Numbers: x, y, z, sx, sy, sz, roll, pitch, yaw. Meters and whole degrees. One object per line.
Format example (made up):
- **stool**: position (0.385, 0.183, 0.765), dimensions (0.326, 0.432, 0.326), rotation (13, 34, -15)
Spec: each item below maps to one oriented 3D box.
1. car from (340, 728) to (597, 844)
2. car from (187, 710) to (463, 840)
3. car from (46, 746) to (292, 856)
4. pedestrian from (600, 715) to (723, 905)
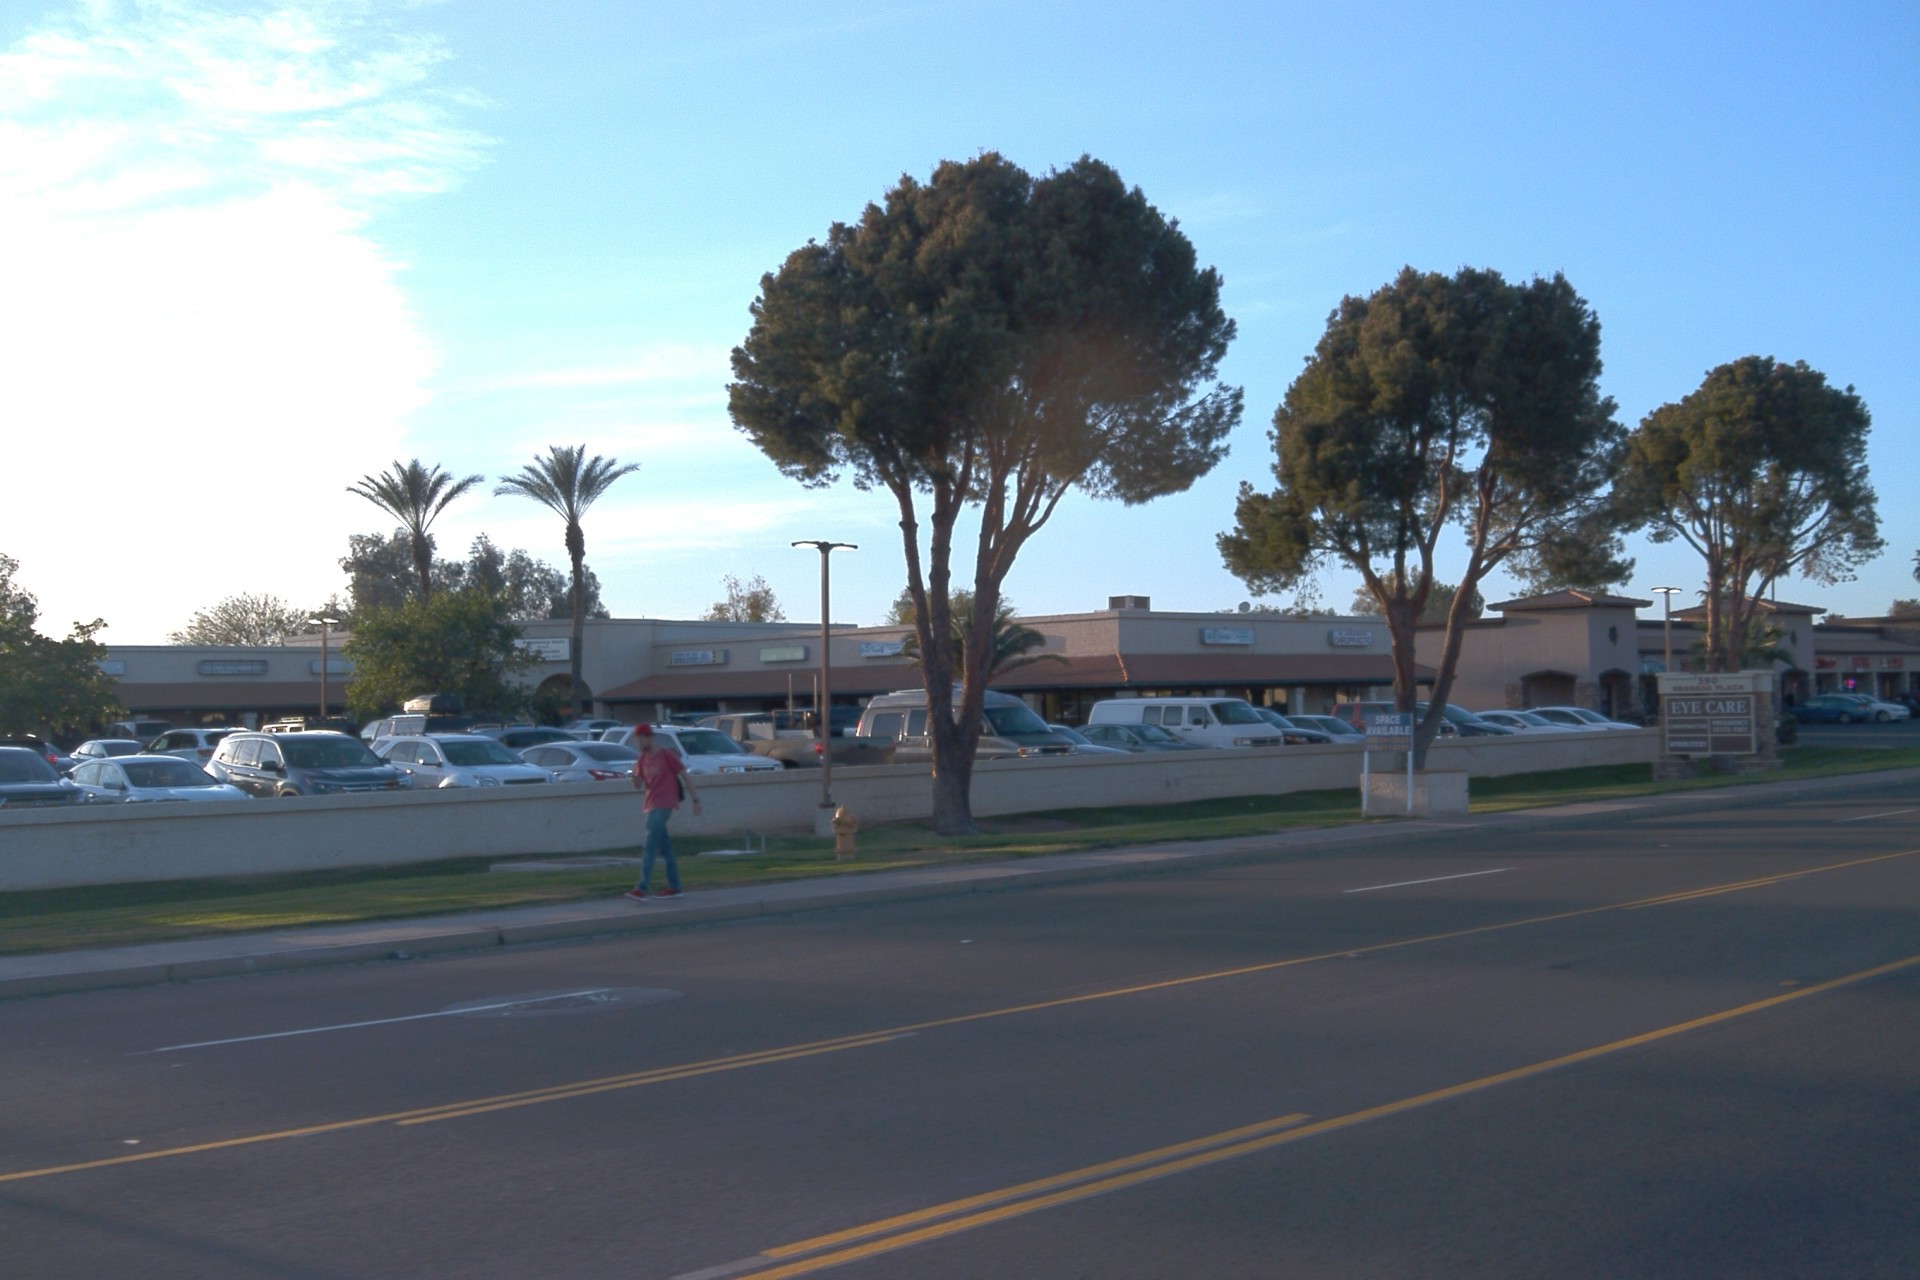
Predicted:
- **car**: position (-8.851, 2.537, 36.625), dimensions (2.231, 1.750, 4.898), rotation (0, -1, -45)
- **car**: position (-10.939, 2.226, 35.073), dimensions (2.476, 1.930, 5.132), rotation (0, -1, -44)
- **car**: position (-12.840, 2.540, 33.103), dimensions (2.096, 1.450, 4.445), rotation (0, -1, -45)
- **pedestrian**: position (-3.185, 1.785, 21.888), dimensions (1.033, 1.940, 0.794), rotation (1, -1, -45)
